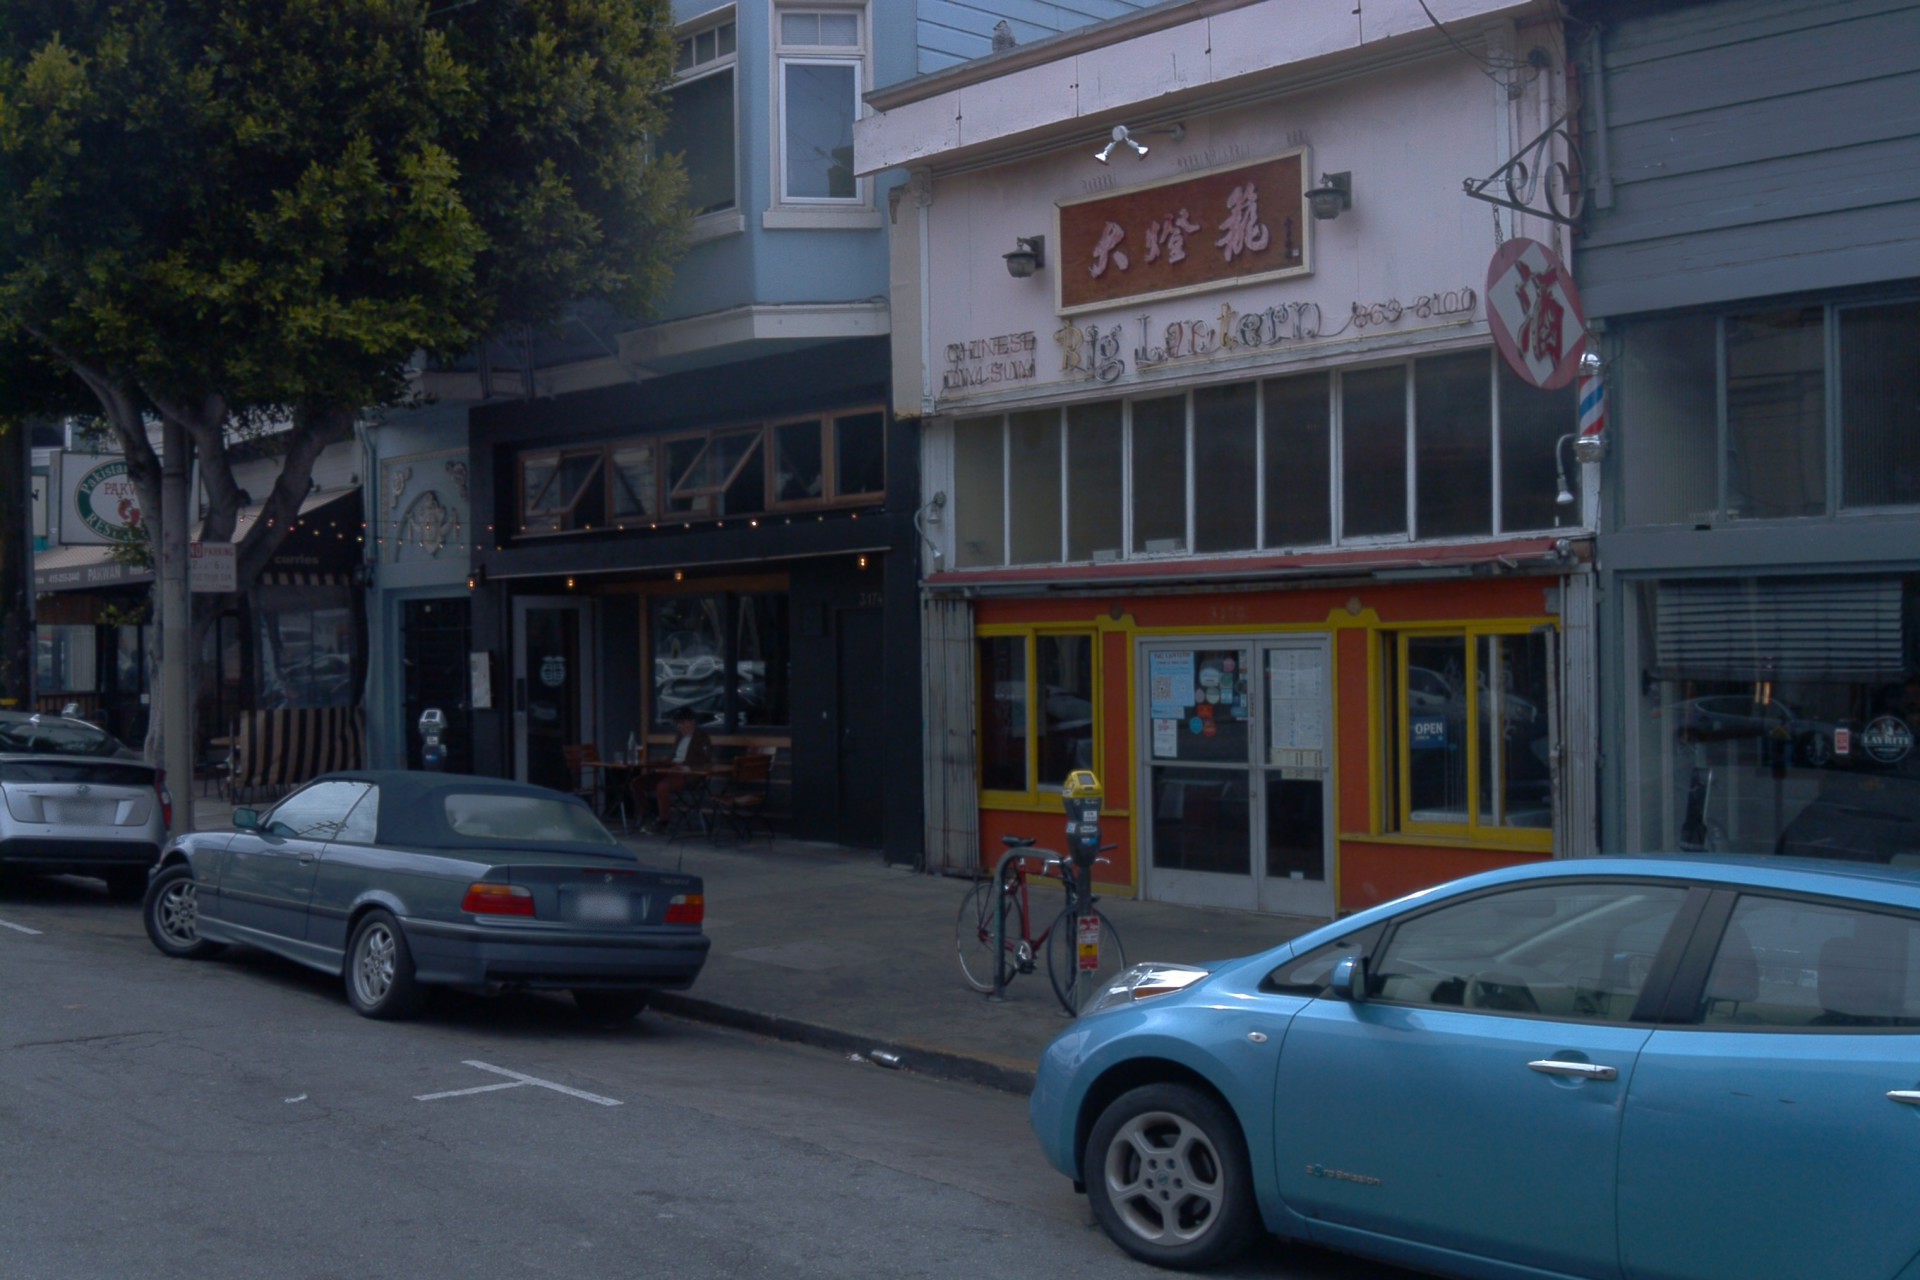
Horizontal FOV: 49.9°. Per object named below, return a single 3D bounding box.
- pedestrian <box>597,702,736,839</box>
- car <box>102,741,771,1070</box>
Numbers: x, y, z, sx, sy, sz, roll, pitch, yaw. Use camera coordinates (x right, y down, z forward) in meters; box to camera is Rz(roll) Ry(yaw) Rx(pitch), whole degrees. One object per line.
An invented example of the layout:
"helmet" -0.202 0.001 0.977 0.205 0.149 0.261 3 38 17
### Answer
"pedestrian" -2.956 1.288 20.787 0.874 1.273 1.150 -1 1 -44
"car" -3.372 1.446 12.710 2.072 1.380 4.503 -1 1 -43
